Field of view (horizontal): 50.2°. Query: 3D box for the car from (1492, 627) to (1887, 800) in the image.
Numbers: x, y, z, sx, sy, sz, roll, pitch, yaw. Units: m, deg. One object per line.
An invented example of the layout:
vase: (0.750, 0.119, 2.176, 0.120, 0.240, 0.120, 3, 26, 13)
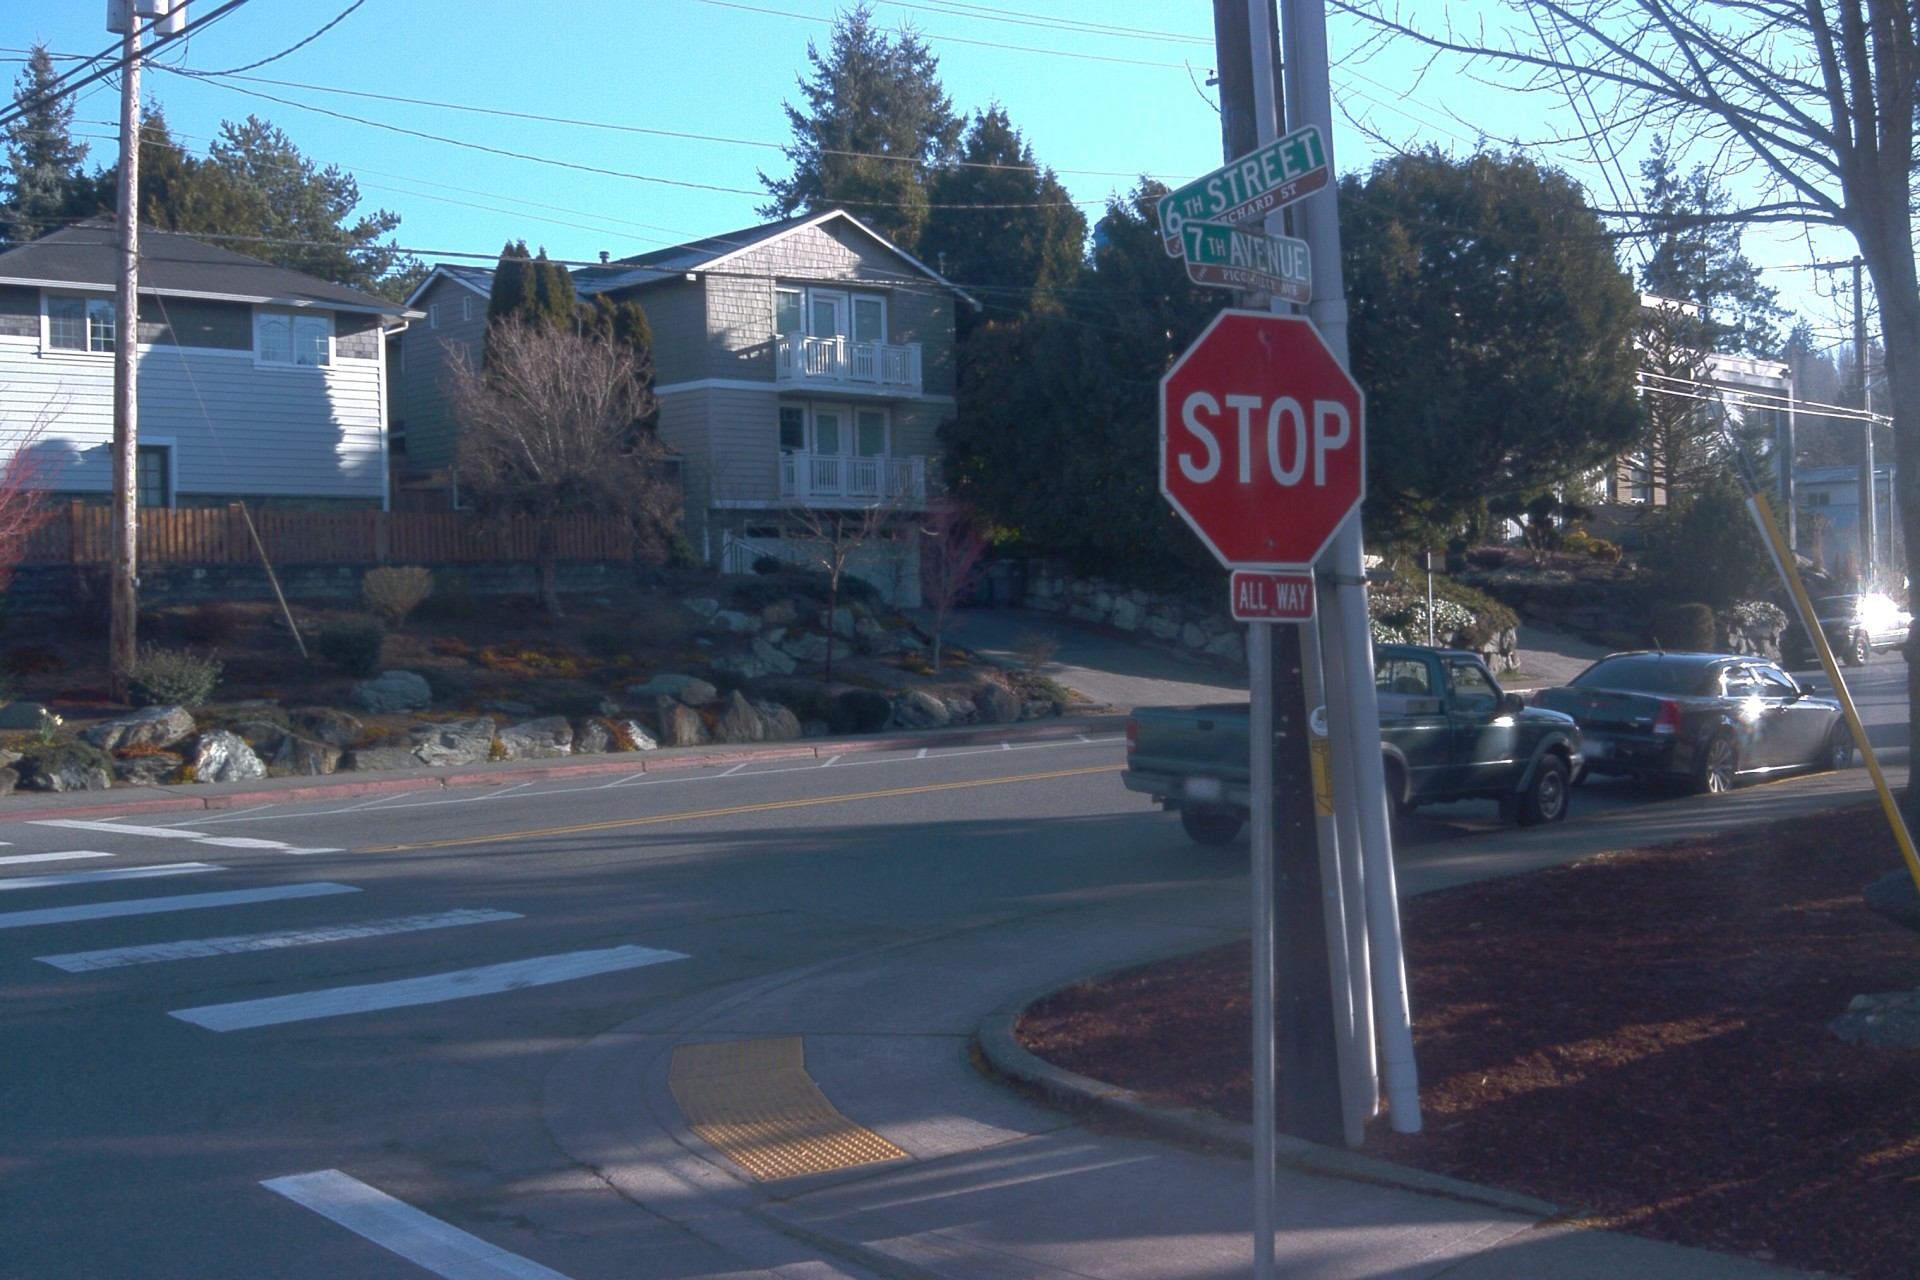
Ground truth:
car: (8.012, 0.704, 22.226, 4.858, 1.660, 2.112, 0, 1, -44)

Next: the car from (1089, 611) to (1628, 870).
car: (3.593, 0.732, 17.743, 2.128, 1.920, 5.099, 1, 1, 44)
